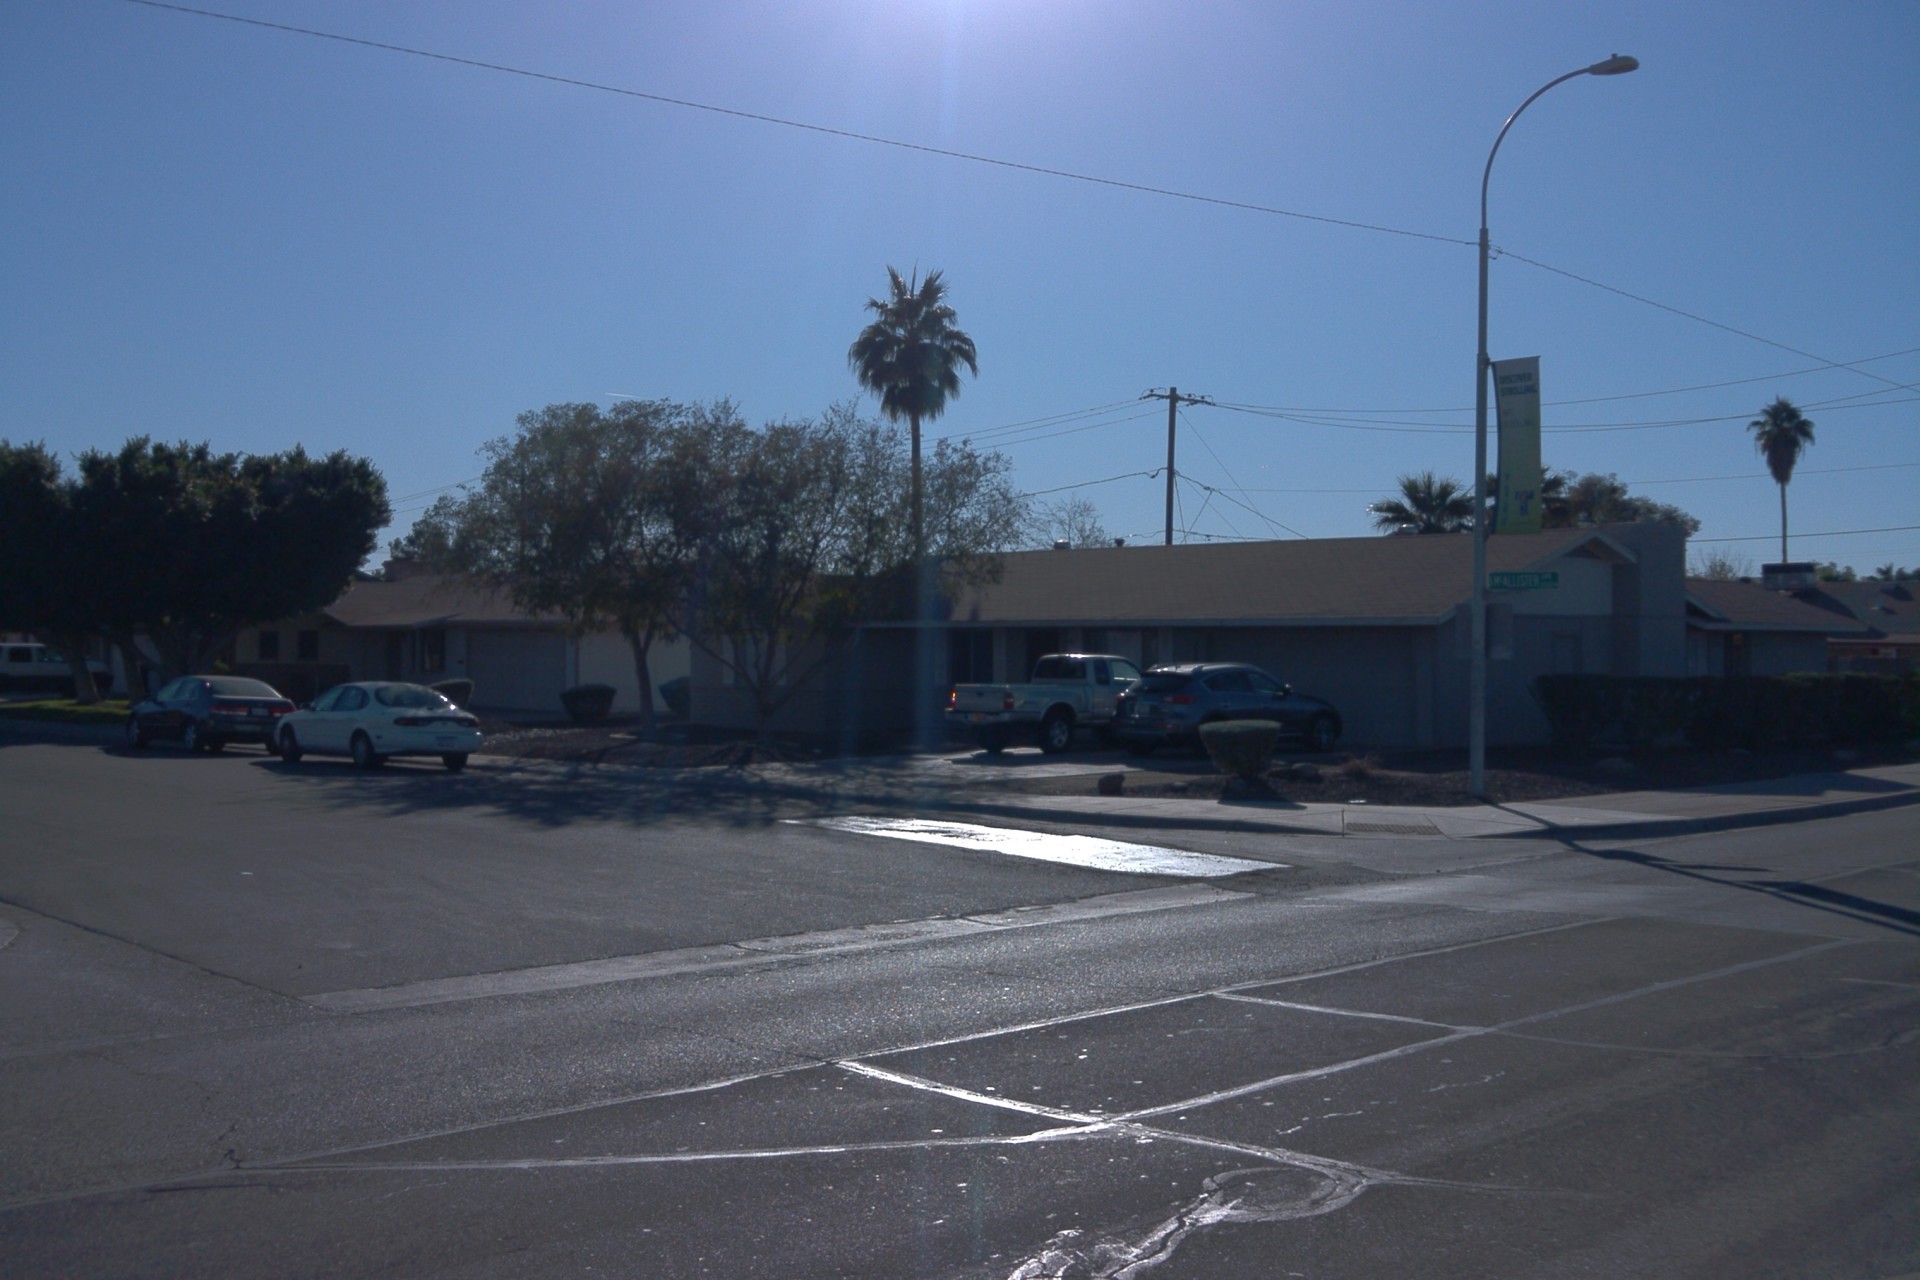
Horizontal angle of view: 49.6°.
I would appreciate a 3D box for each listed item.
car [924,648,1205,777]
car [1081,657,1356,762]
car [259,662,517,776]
[{"bbox_3d":[1.977,1.266,37.822,5.232,2.170,2.045,1,0,-44],"label":"car"},{"bbox_3d":[4.558,1.163,36.225,4.829,1.670,2.148,1,0,-43],"label":"car"},{"bbox_3d":[-9.760,1.276,35.204,2.113,1.710,4.952,1,0,-43],"label":"car"}]
